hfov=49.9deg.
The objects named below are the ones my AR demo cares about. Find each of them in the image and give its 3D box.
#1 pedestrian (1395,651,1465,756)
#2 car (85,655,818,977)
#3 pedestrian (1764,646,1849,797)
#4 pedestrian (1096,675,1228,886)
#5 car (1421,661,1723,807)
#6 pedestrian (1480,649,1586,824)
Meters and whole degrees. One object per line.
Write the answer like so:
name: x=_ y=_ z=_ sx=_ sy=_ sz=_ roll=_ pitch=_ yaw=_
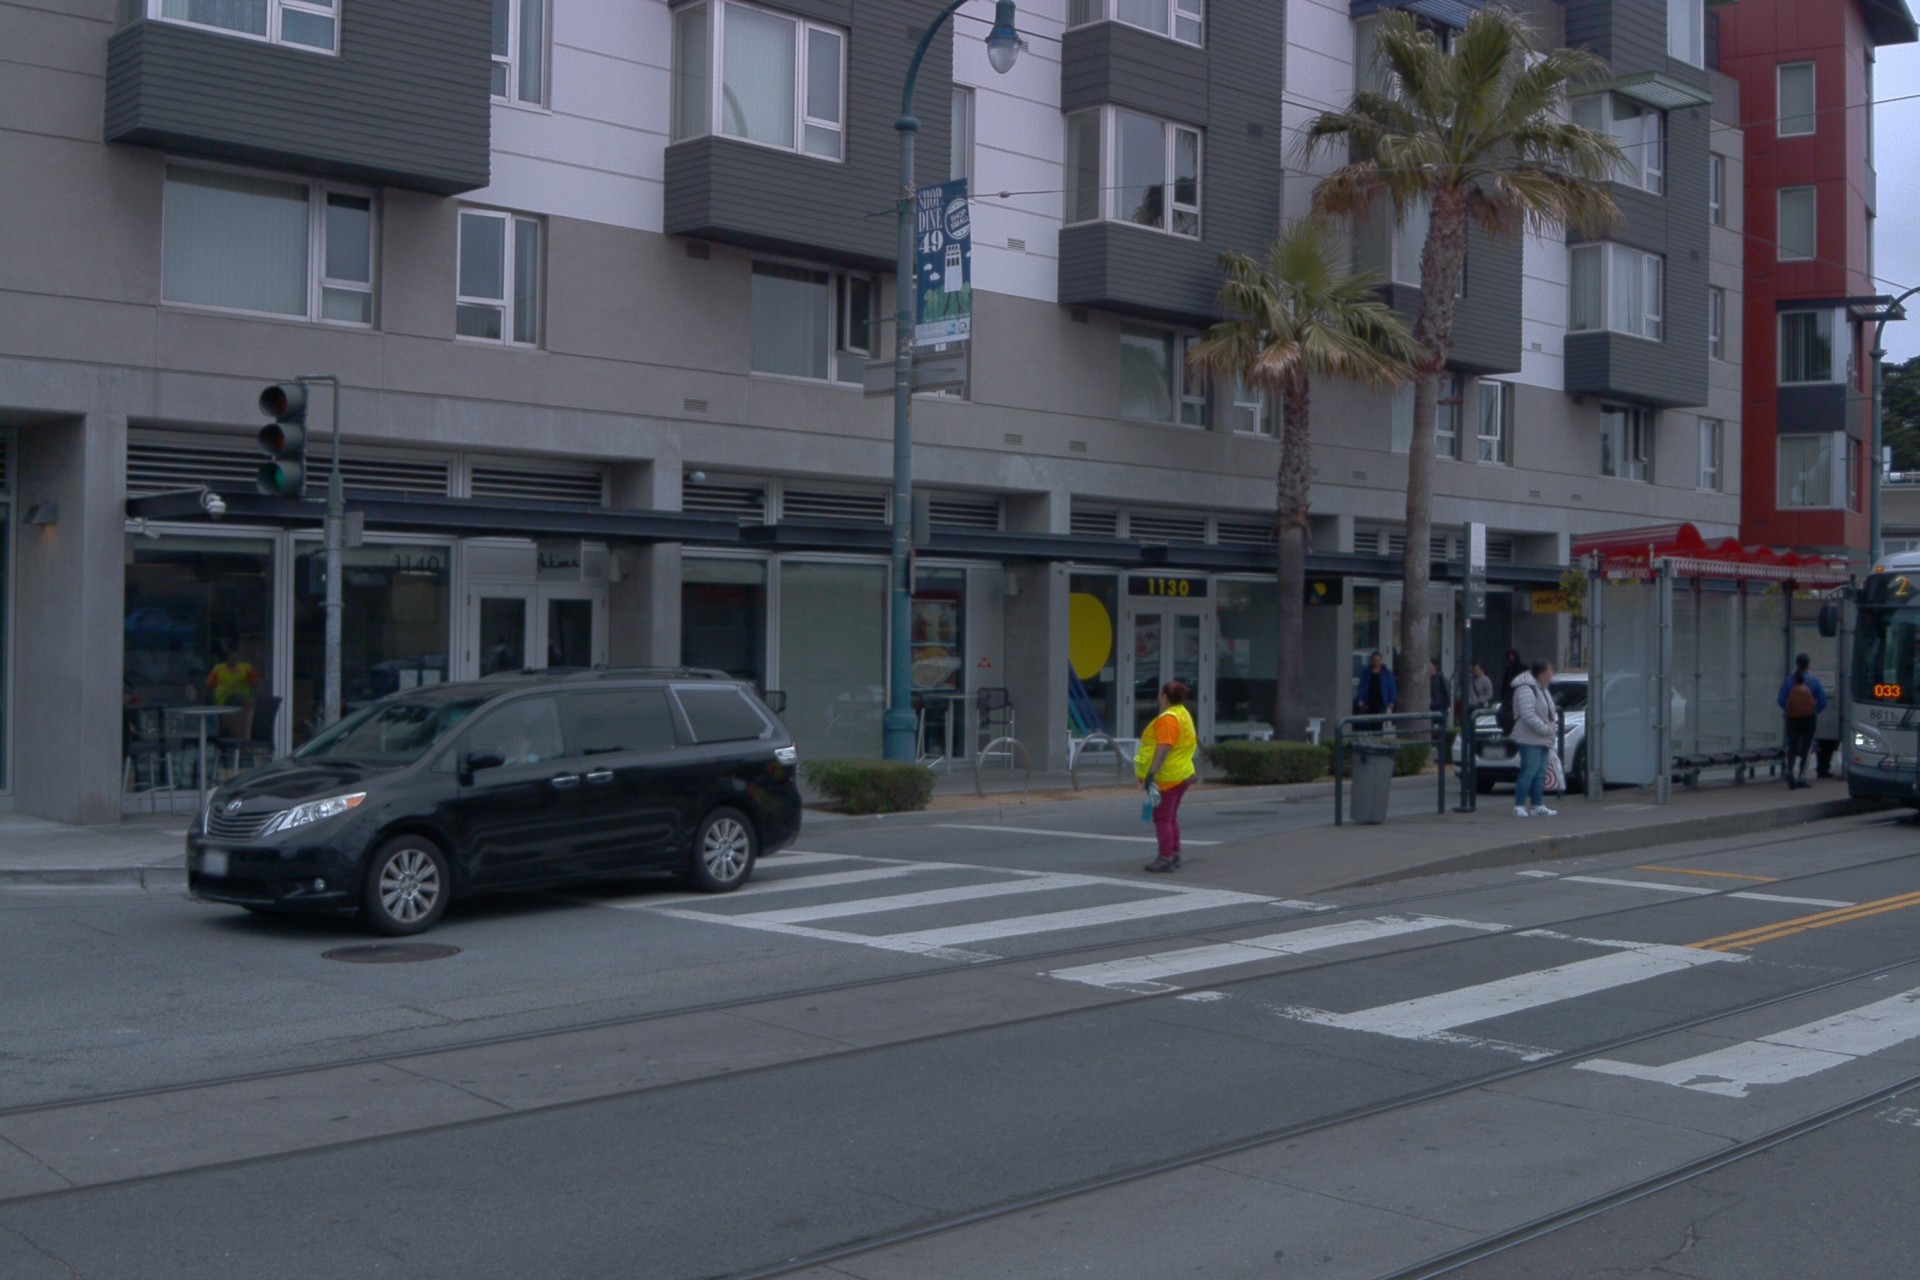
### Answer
pedestrian: x=7.571 y=1.005 z=33.238 sx=0.803 sy=1.630 sz=0.762 roll=-1 pitch=1 yaw=-38
car: x=-3.602 y=1.123 z=15.555 sx=2.147 sy=1.880 sz=5.074 roll=1 pitch=1 yaw=39
pedestrian: x=9.959 y=0.941 z=24.284 sx=0.680 sy=1.720 sz=0.688 roll=-1 pitch=1 yaw=-41
pedestrian: x=1.699 y=1.161 z=17.435 sx=0.900 sy=1.700 sz=0.699 roll=0 pitch=1 yaw=-21
car: x=8.284 y=1.183 z=27.779 sx=4.272 sy=1.680 sz=2.039 roll=-1 pitch=1 yaw=-44
pedestrian: x=5.813 y=0.952 z=20.907 sx=0.857 sy=1.700 sz=0.978 roll=0 pitch=1 yaw=26
